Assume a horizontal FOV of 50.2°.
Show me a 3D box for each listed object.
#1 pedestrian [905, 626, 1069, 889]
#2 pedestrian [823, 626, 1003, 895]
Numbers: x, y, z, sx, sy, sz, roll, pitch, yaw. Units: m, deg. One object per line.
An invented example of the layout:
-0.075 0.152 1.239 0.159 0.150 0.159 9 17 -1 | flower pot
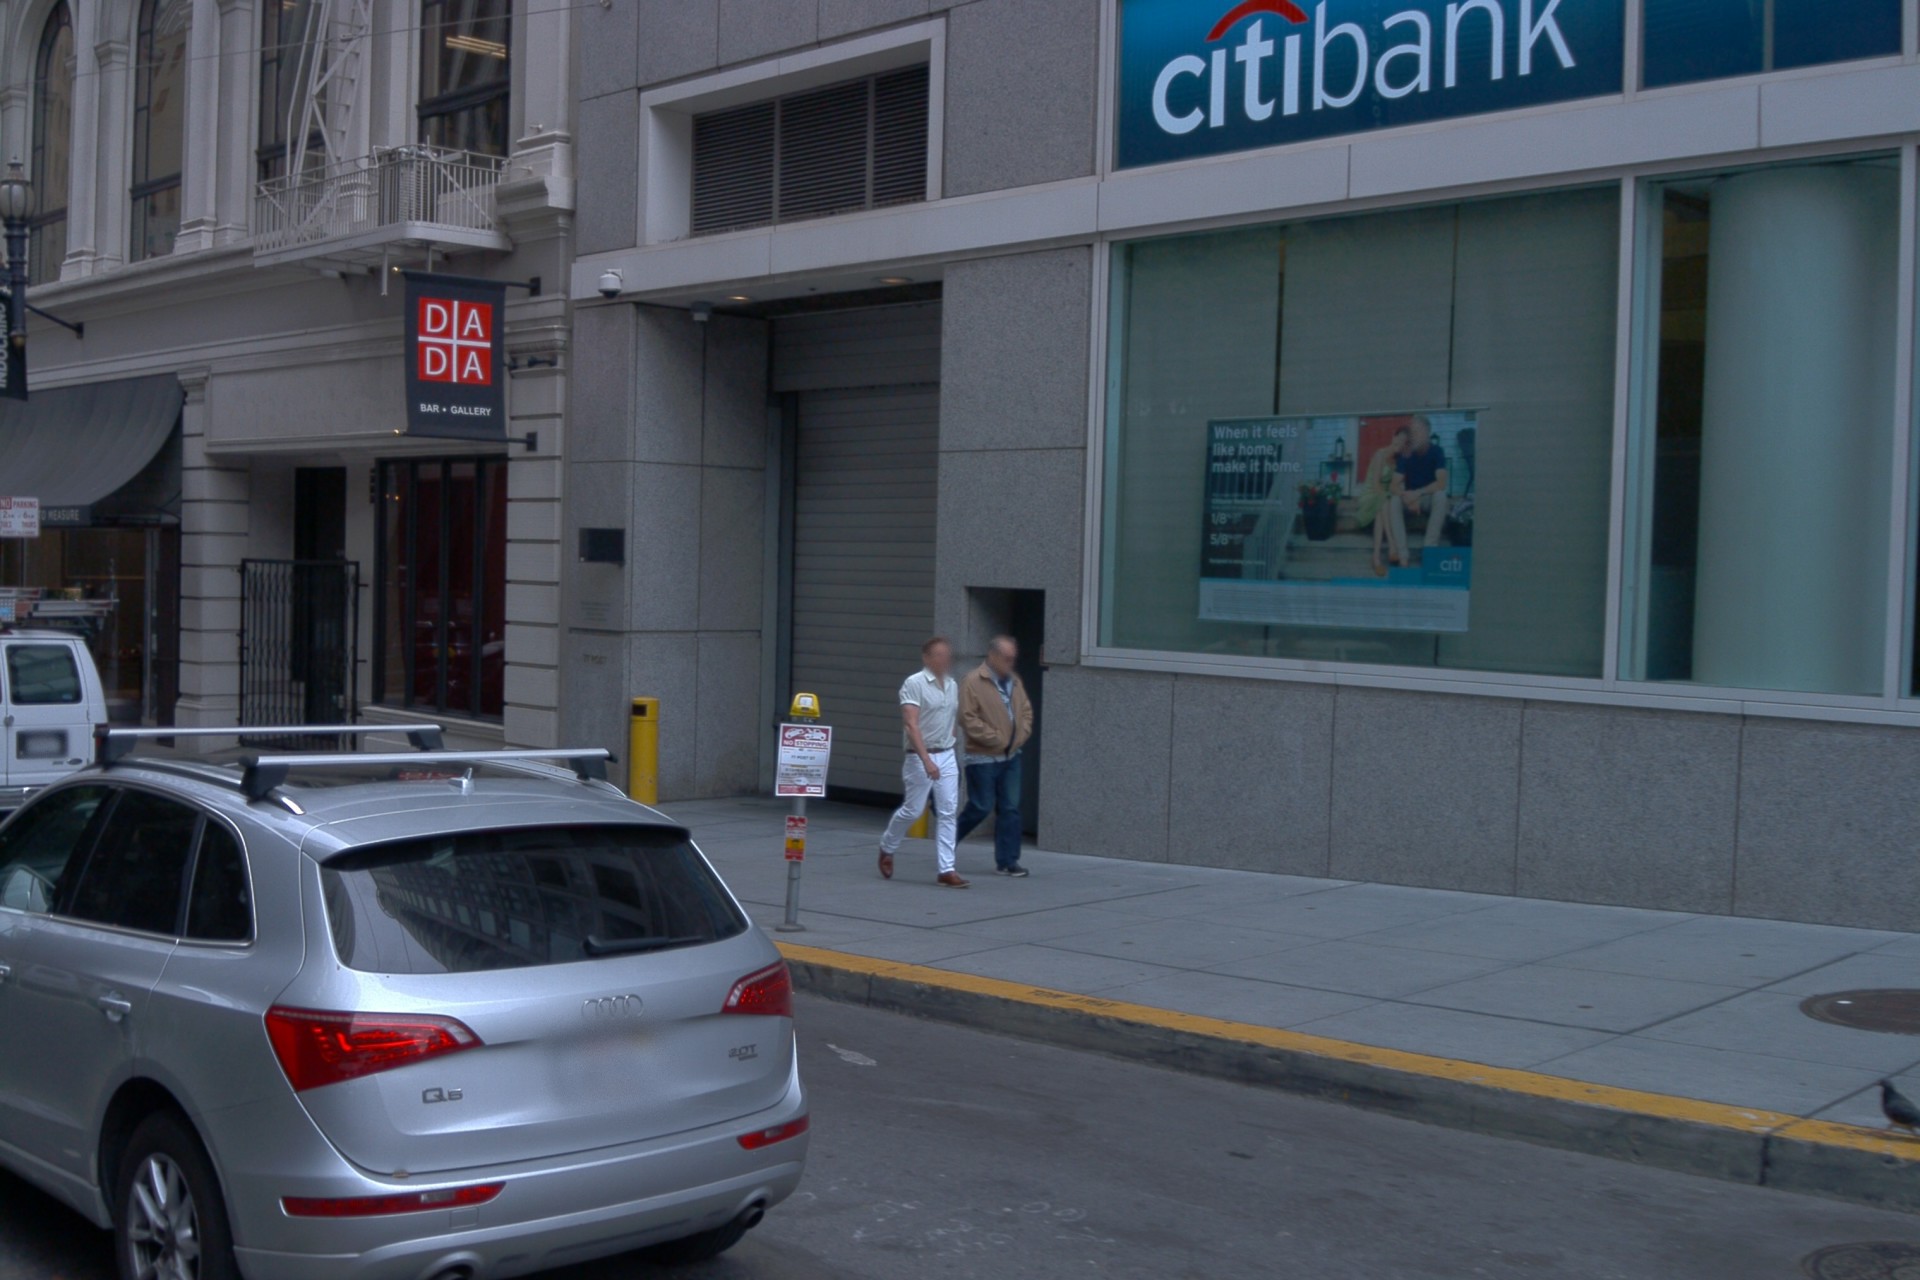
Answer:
0.191 0.830 15.110 0.759 1.860 0.975 0 0 -39 | pedestrian
-0.338 0.821 14.581 0.863 1.830 0.968 0 0 -39 | pedestrian
